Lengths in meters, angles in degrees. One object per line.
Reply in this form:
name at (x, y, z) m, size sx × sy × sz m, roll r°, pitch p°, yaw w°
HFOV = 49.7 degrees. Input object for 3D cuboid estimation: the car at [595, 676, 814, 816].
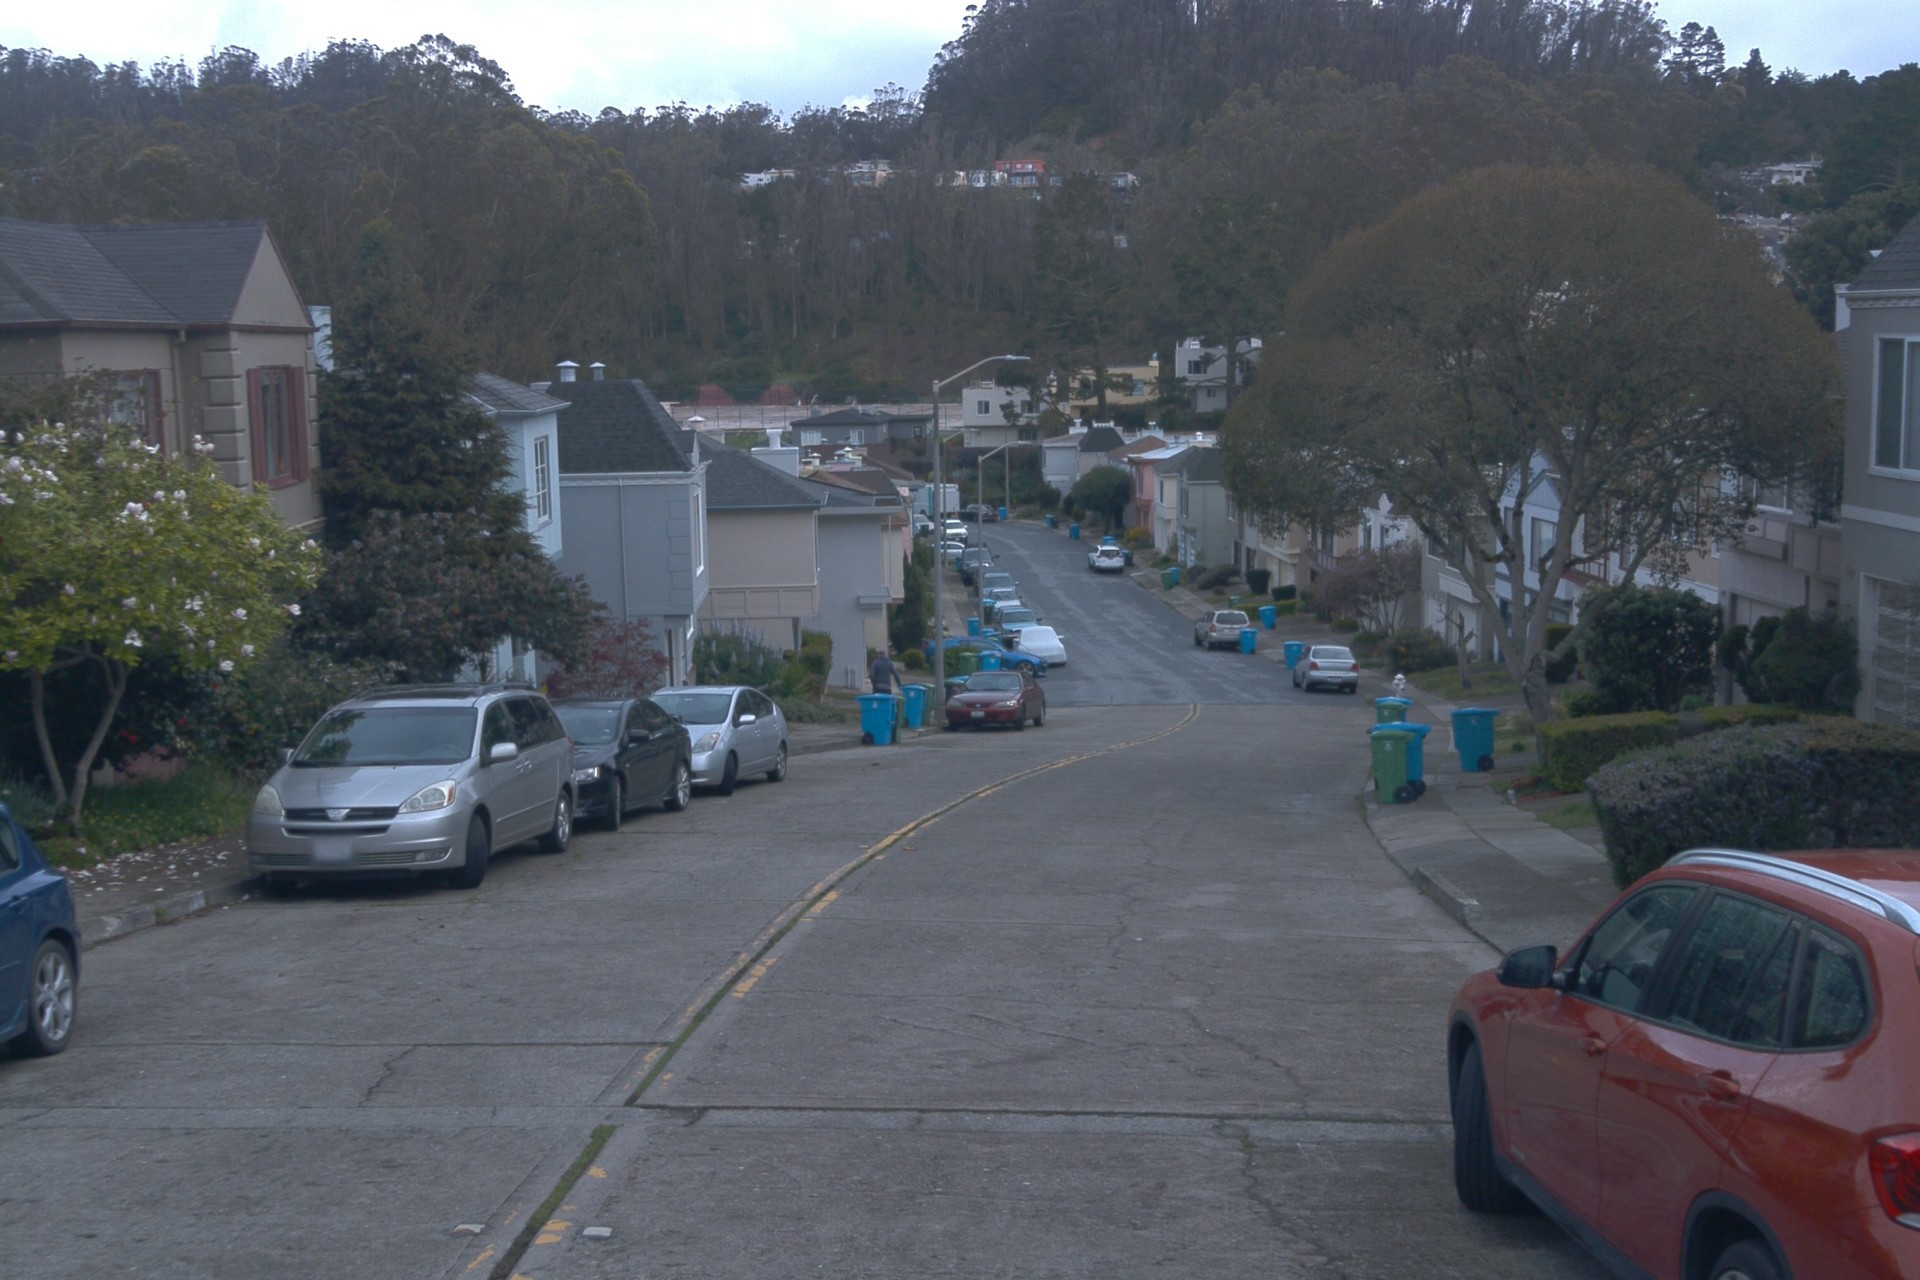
car at (-3.554, 1.438, 29.683) m, size 1.905 × 1.800 × 4.461 m, roll 0°, pitch 0°, yaw 10°

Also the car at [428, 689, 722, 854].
car at (-4.452, 1.478, 24.767) m, size 2.087 × 1.682 × 4.574 m, roll 0°, pitch 0°, yaw 8°

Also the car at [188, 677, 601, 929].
car at (-5.081, 1.377, 19.530) m, size 2.346 × 1.990 × 5.081 m, roll 0°, pitch 0°, yaw 2°
